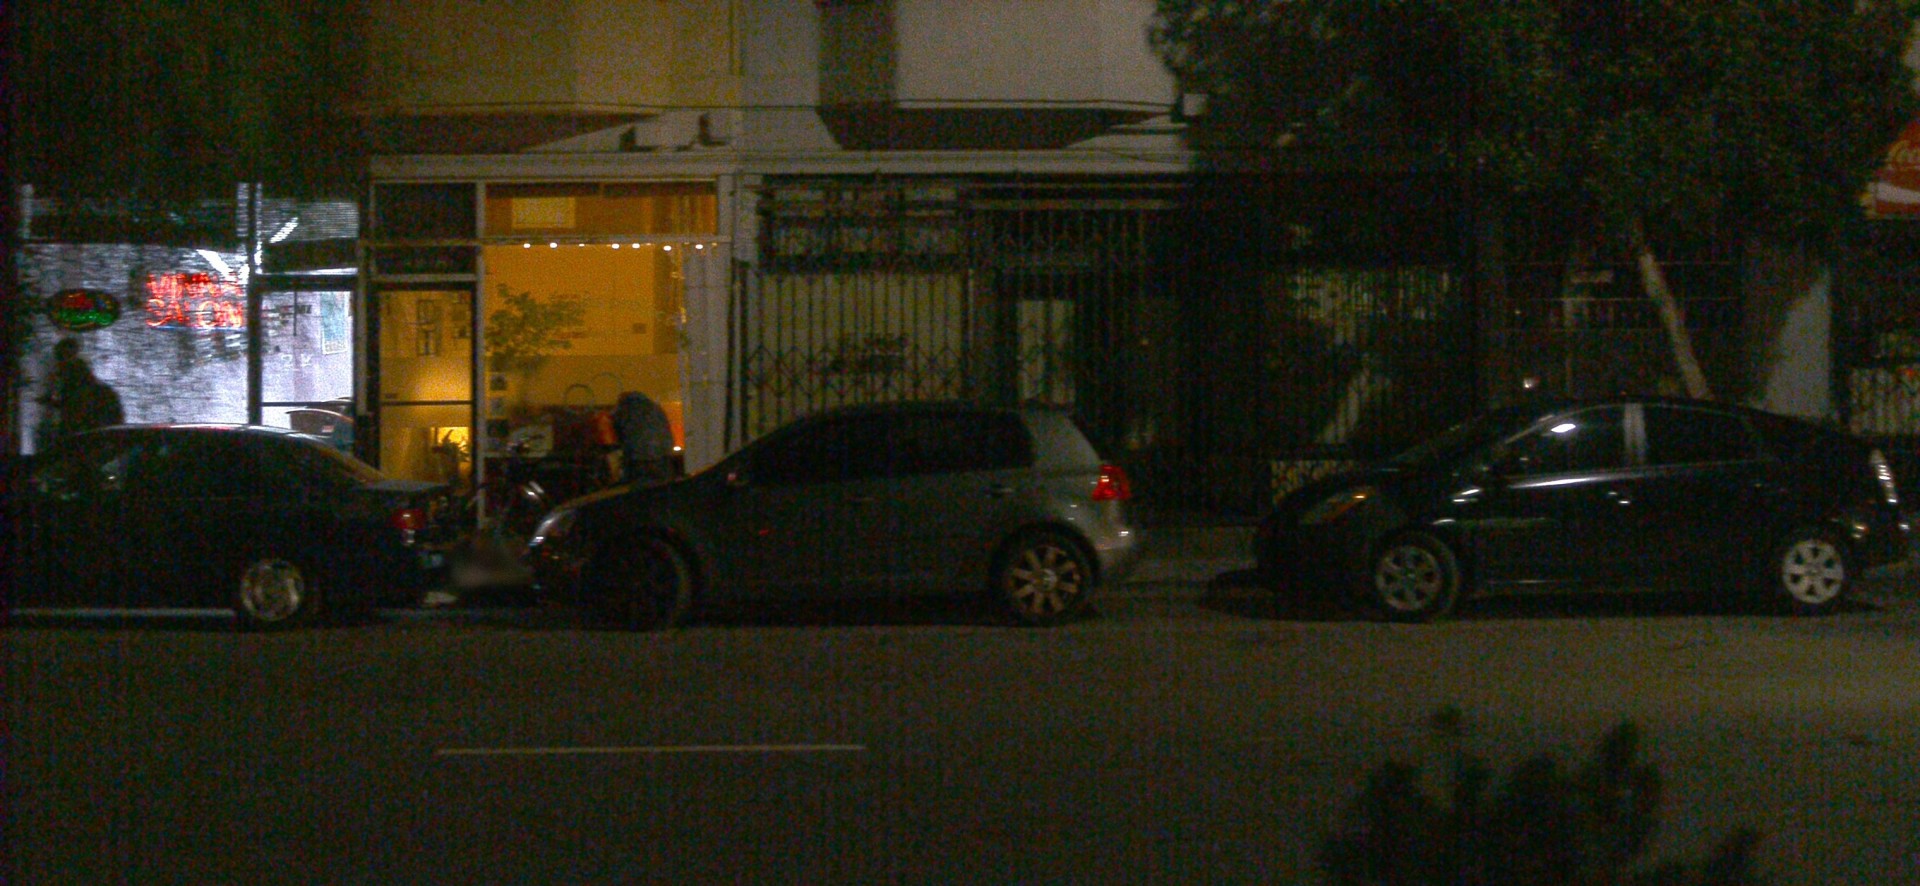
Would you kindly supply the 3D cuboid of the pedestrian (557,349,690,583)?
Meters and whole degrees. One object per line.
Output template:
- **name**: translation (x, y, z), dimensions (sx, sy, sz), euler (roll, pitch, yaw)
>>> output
- **pedestrian**: translation (-2.467, 0.139, 15.291), dimensions (0.899, 1.608, 0.935), euler (0, 2, -5)

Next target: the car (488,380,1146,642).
- **car**: translation (-0.919, 0.406, 14.094), dimensions (4.167, 1.506, 1.900), euler (0, 4, -1)
